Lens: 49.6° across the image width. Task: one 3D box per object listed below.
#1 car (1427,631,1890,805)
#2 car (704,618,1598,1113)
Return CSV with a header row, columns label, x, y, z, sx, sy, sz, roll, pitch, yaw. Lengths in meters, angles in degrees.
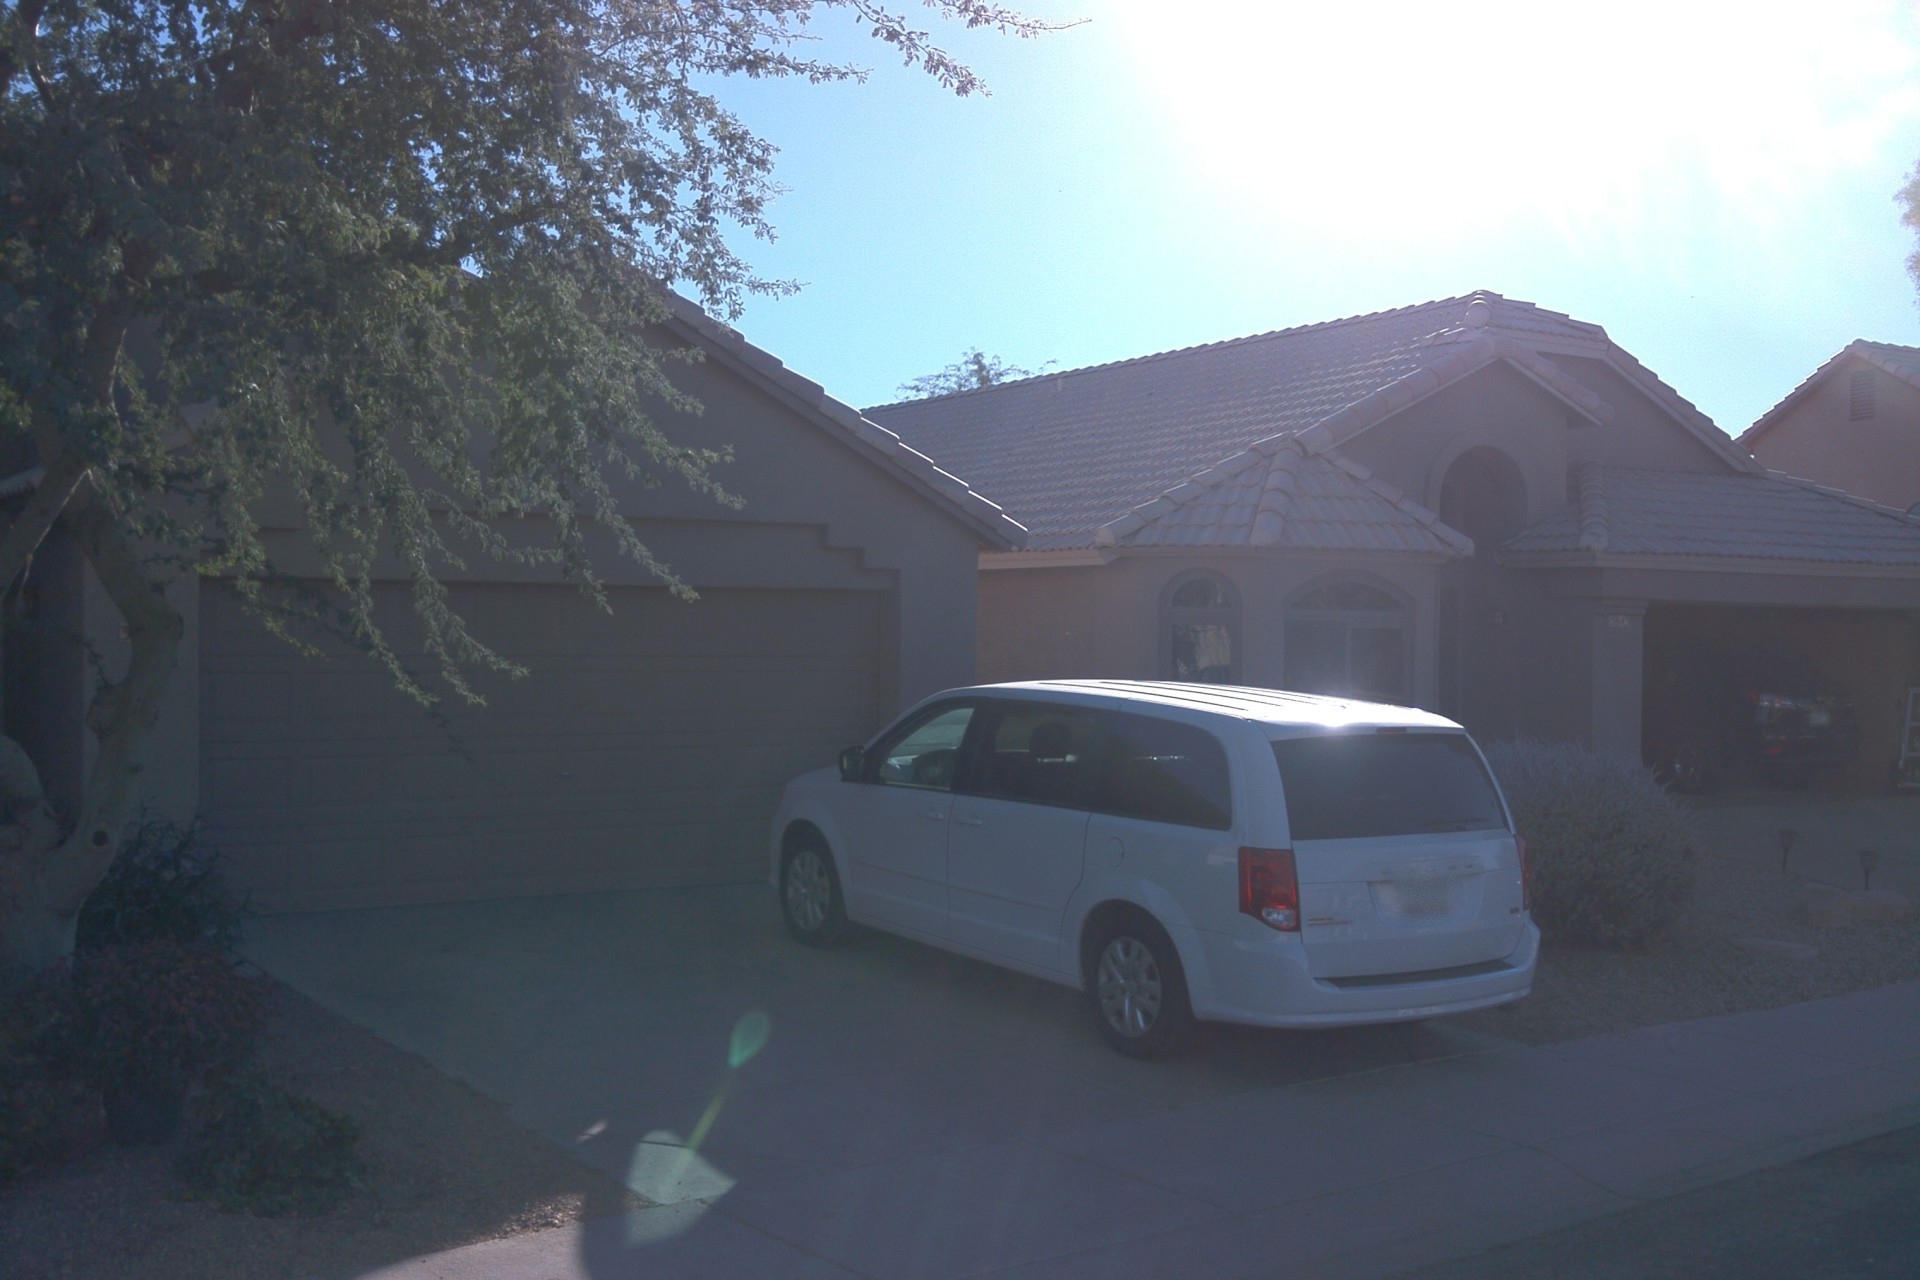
label,x,y,z,sx,sy,sz,roll,pitch,yaw
car,8.023,0.830,24.336,2.298,1.810,4.796,0,0,-32
car,0.742,0.977,11.647,2.225,2.110,5.188,0,0,-34
